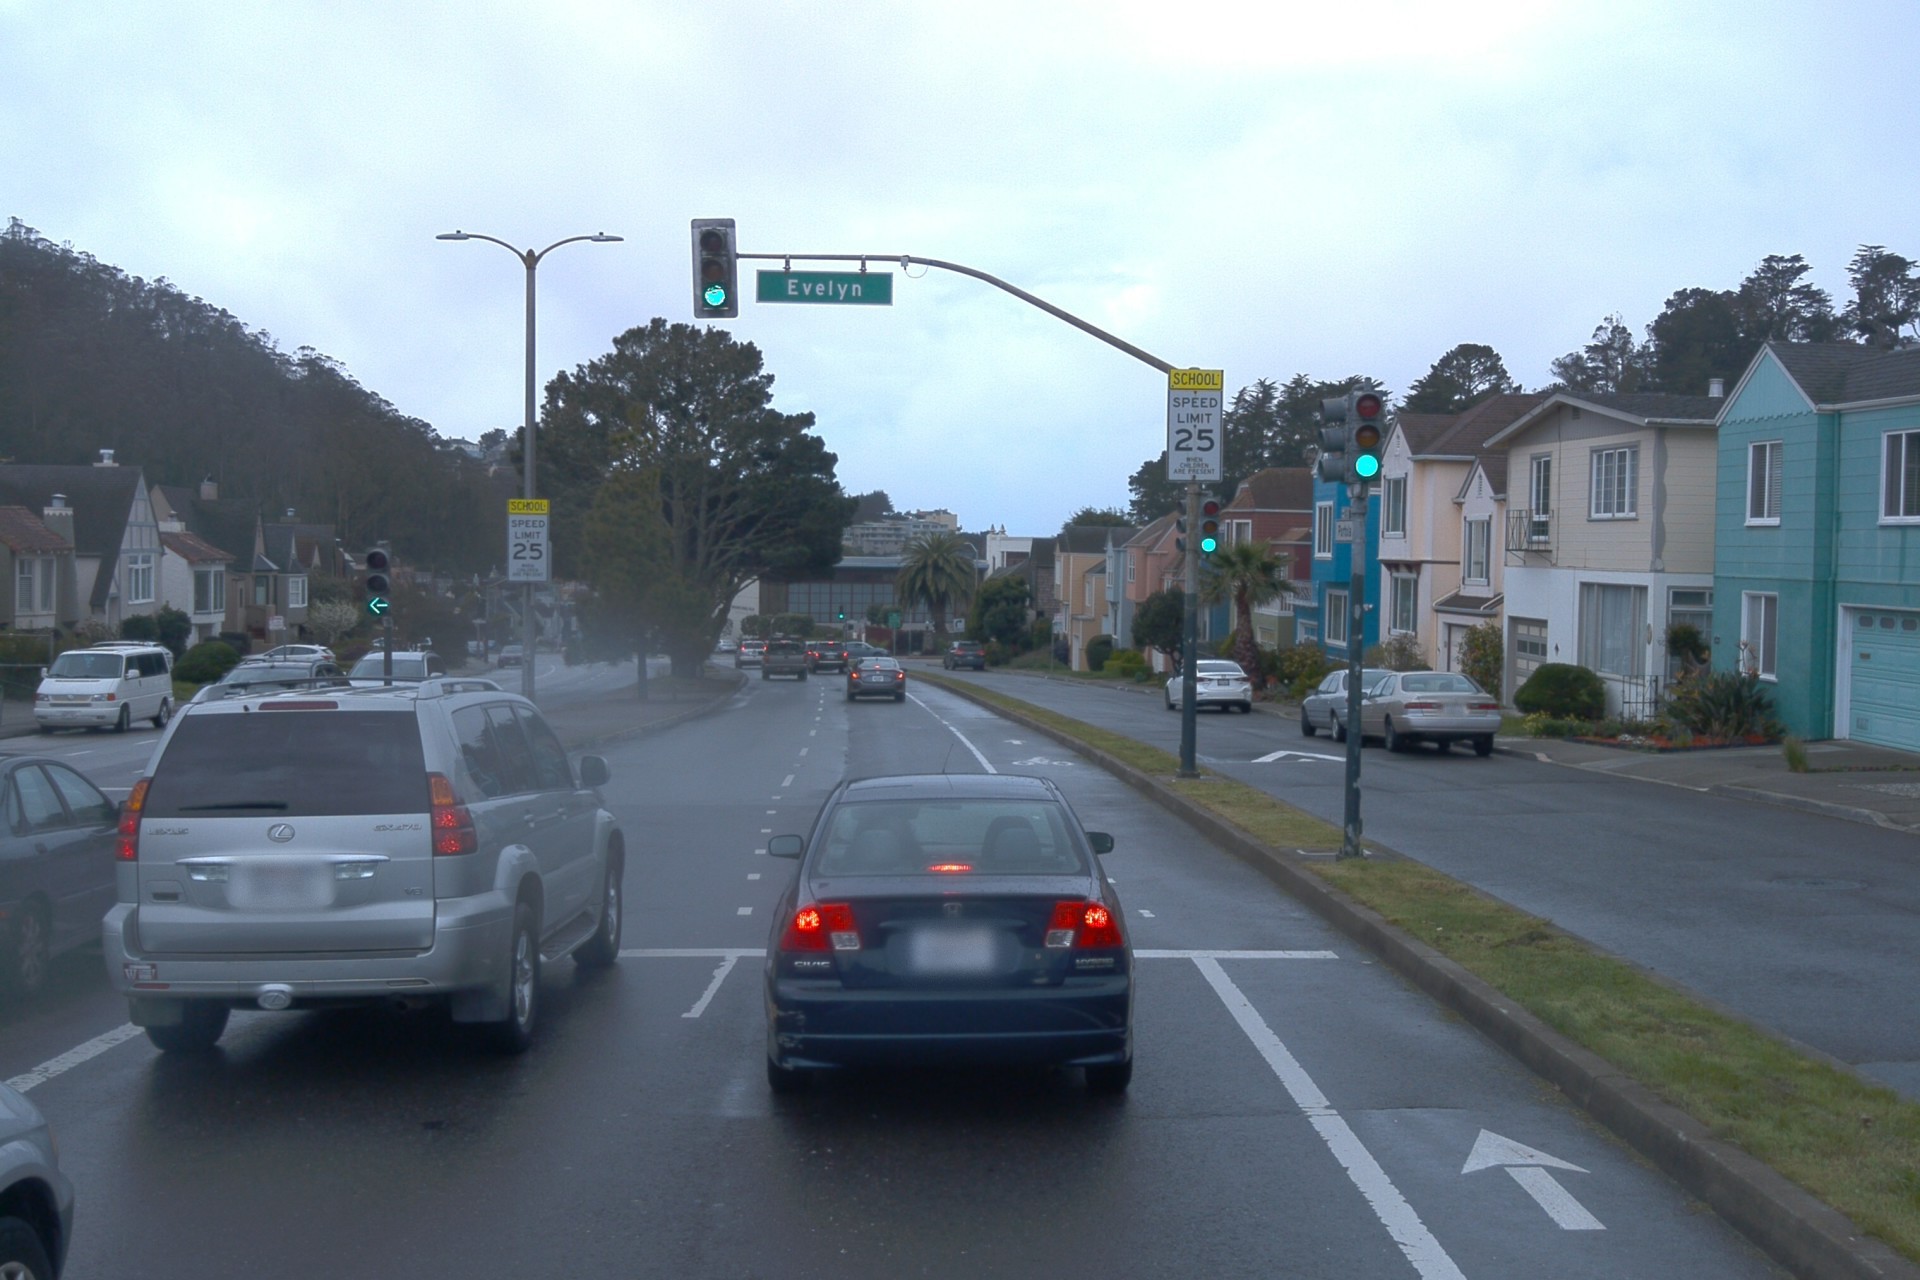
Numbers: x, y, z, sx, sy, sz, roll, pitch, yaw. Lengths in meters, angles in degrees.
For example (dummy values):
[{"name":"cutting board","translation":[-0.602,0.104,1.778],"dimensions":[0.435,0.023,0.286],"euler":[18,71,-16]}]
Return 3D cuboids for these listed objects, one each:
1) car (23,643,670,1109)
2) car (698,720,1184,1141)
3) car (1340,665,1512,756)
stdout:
[{"name":"car","translation":[-3.072,1.057,11.569],"dimensions":[2.249,2.070,4.734],"euler":[0,0,-1]},{"name":"car","translation":[-0.120,1.275,10.576],"dimensions":[2.004,1.570,4.164],"euler":[0,0,-1]},{"name":"car","translation":[8.084,1.194,36.132],"dimensions":[1.755,1.440,4.469],"euler":[0,0,-4]}]
